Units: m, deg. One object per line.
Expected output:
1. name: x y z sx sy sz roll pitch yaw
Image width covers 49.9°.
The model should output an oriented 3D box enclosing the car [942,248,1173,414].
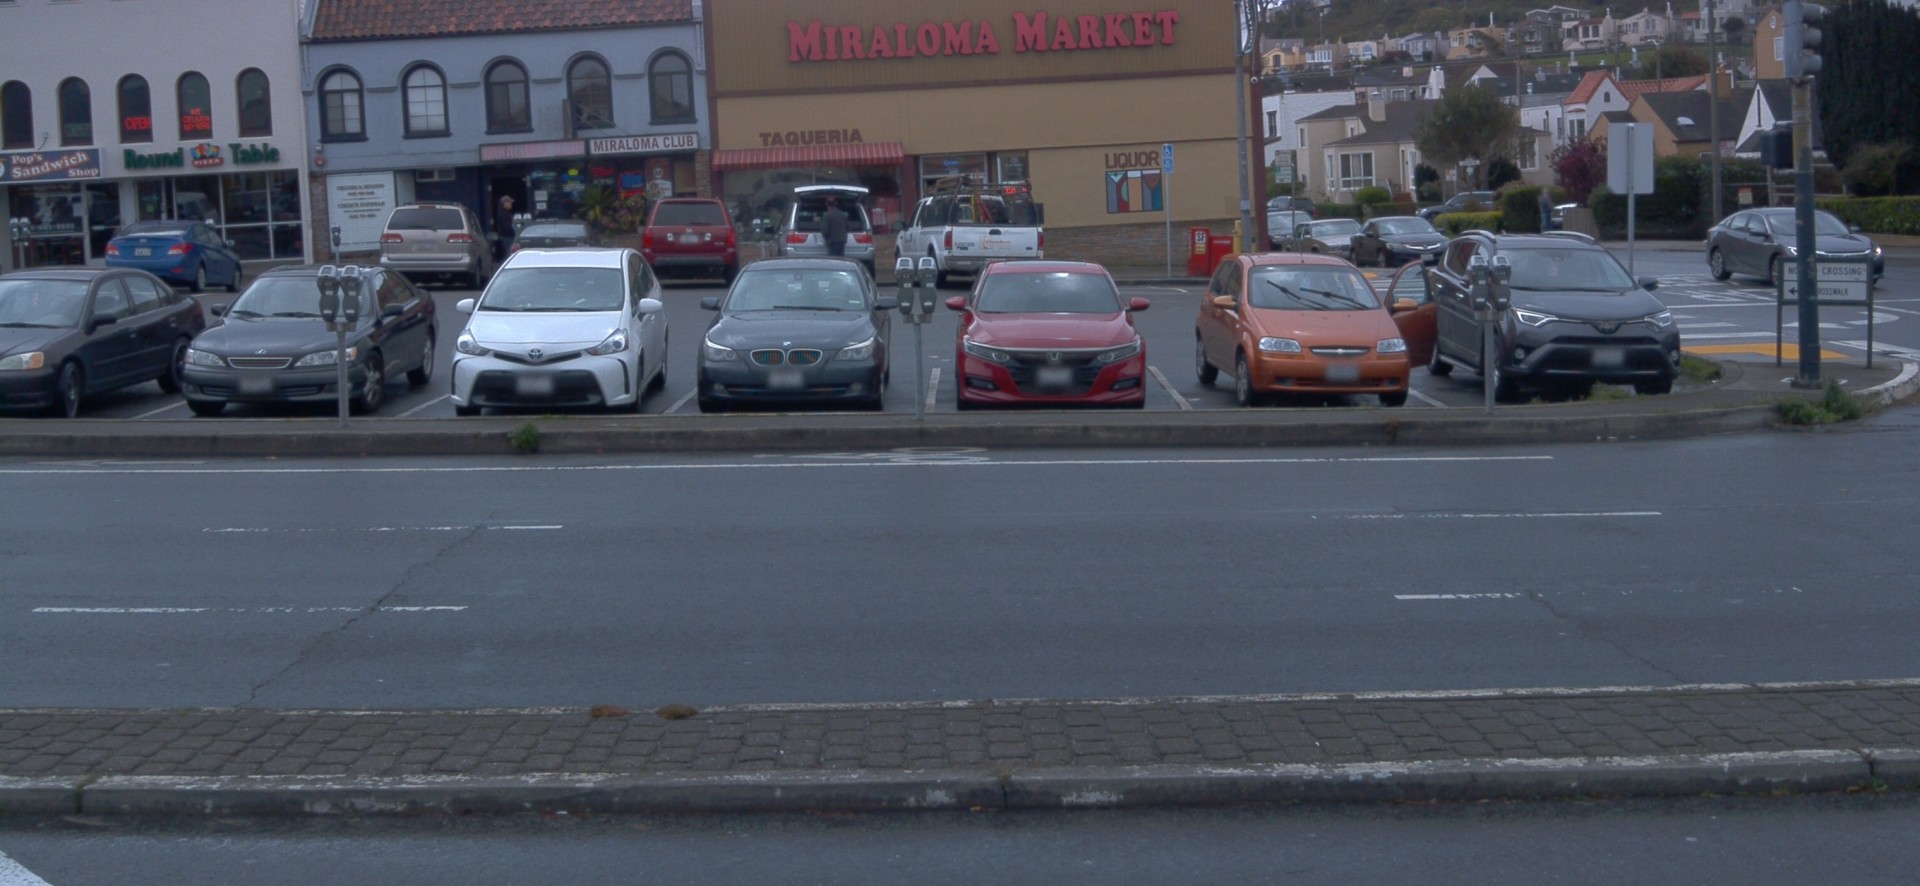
1. car: 0.907 -1.280 21.830 2.185 1.461 4.636 0 6 -1

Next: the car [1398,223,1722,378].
1. car: 6.390 -1.646 22.574 2.205 1.461 4.580 0 6 0

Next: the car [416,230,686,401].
1. car: -4.069 -1.418 21.321 2.132 1.491 4.678 0 6 -4

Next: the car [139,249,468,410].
1. car: -6.718 -1.285 21.703 2.023 1.392 4.712 0 6 -1

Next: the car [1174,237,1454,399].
1. car: 3.613 -1.399 21.802 2.049 1.462 4.037 0 6 -4

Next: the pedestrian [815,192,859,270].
1. pedestrian: -2.325 -4.008 38.899 0.705 1.457 0.722 -1 2 -15

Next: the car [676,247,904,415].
1. car: -1.657 -1.271 21.658 2.112 1.461 4.574 0 6 -1
